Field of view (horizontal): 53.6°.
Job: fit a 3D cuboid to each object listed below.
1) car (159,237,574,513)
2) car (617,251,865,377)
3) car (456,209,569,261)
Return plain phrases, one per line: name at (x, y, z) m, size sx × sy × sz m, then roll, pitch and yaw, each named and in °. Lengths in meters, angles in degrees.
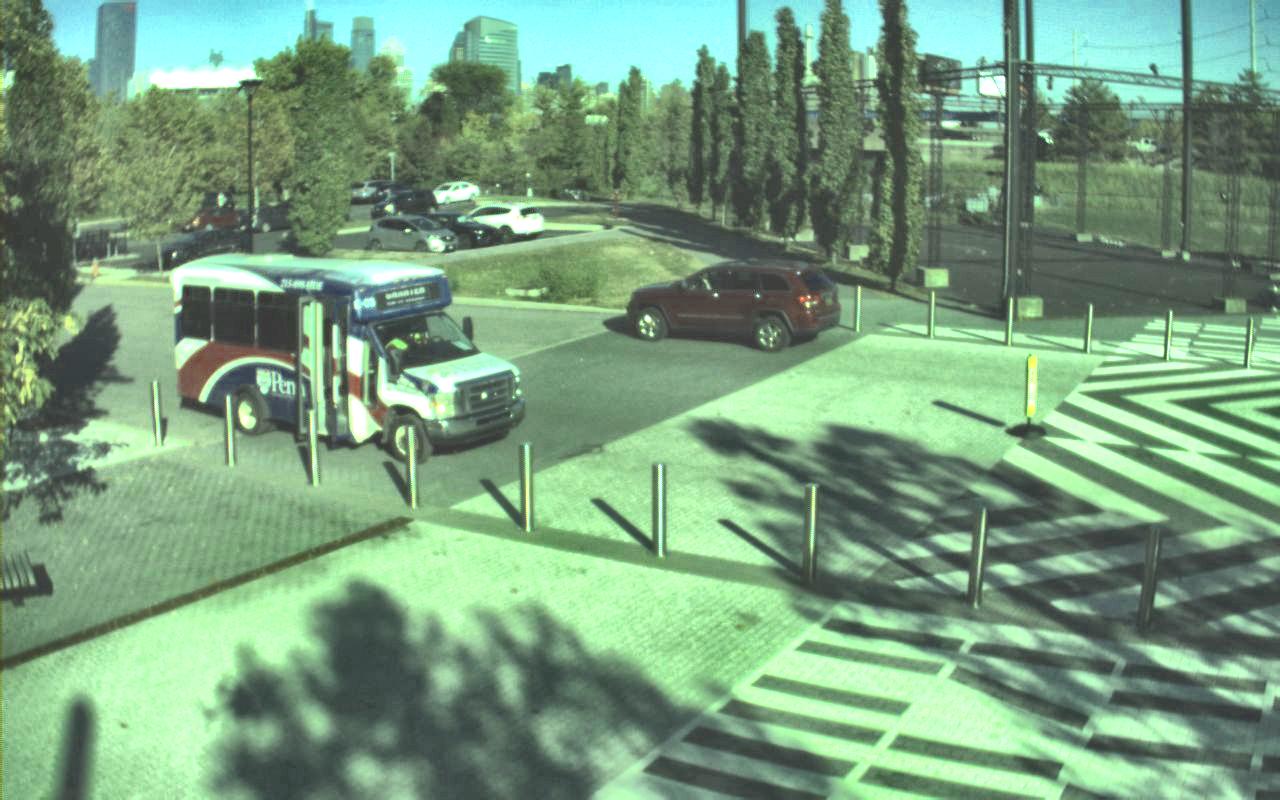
car at (-4.628, -0.696, 19.708) m, size 6.897 × 2.947 × 2.636 m, roll 10°, pitch 19°, yaw 33°
car at (2.177, -1.950, 27.336) m, size 4.934 × 1.843 × 2.089 m, roll 9°, pitch 19°, yaw 30°
car at (-5.505, -7.121, 53.830) m, size 4.533 × 1.671 × 1.984 m, roll 8°, pitch 19°, yaw 29°
